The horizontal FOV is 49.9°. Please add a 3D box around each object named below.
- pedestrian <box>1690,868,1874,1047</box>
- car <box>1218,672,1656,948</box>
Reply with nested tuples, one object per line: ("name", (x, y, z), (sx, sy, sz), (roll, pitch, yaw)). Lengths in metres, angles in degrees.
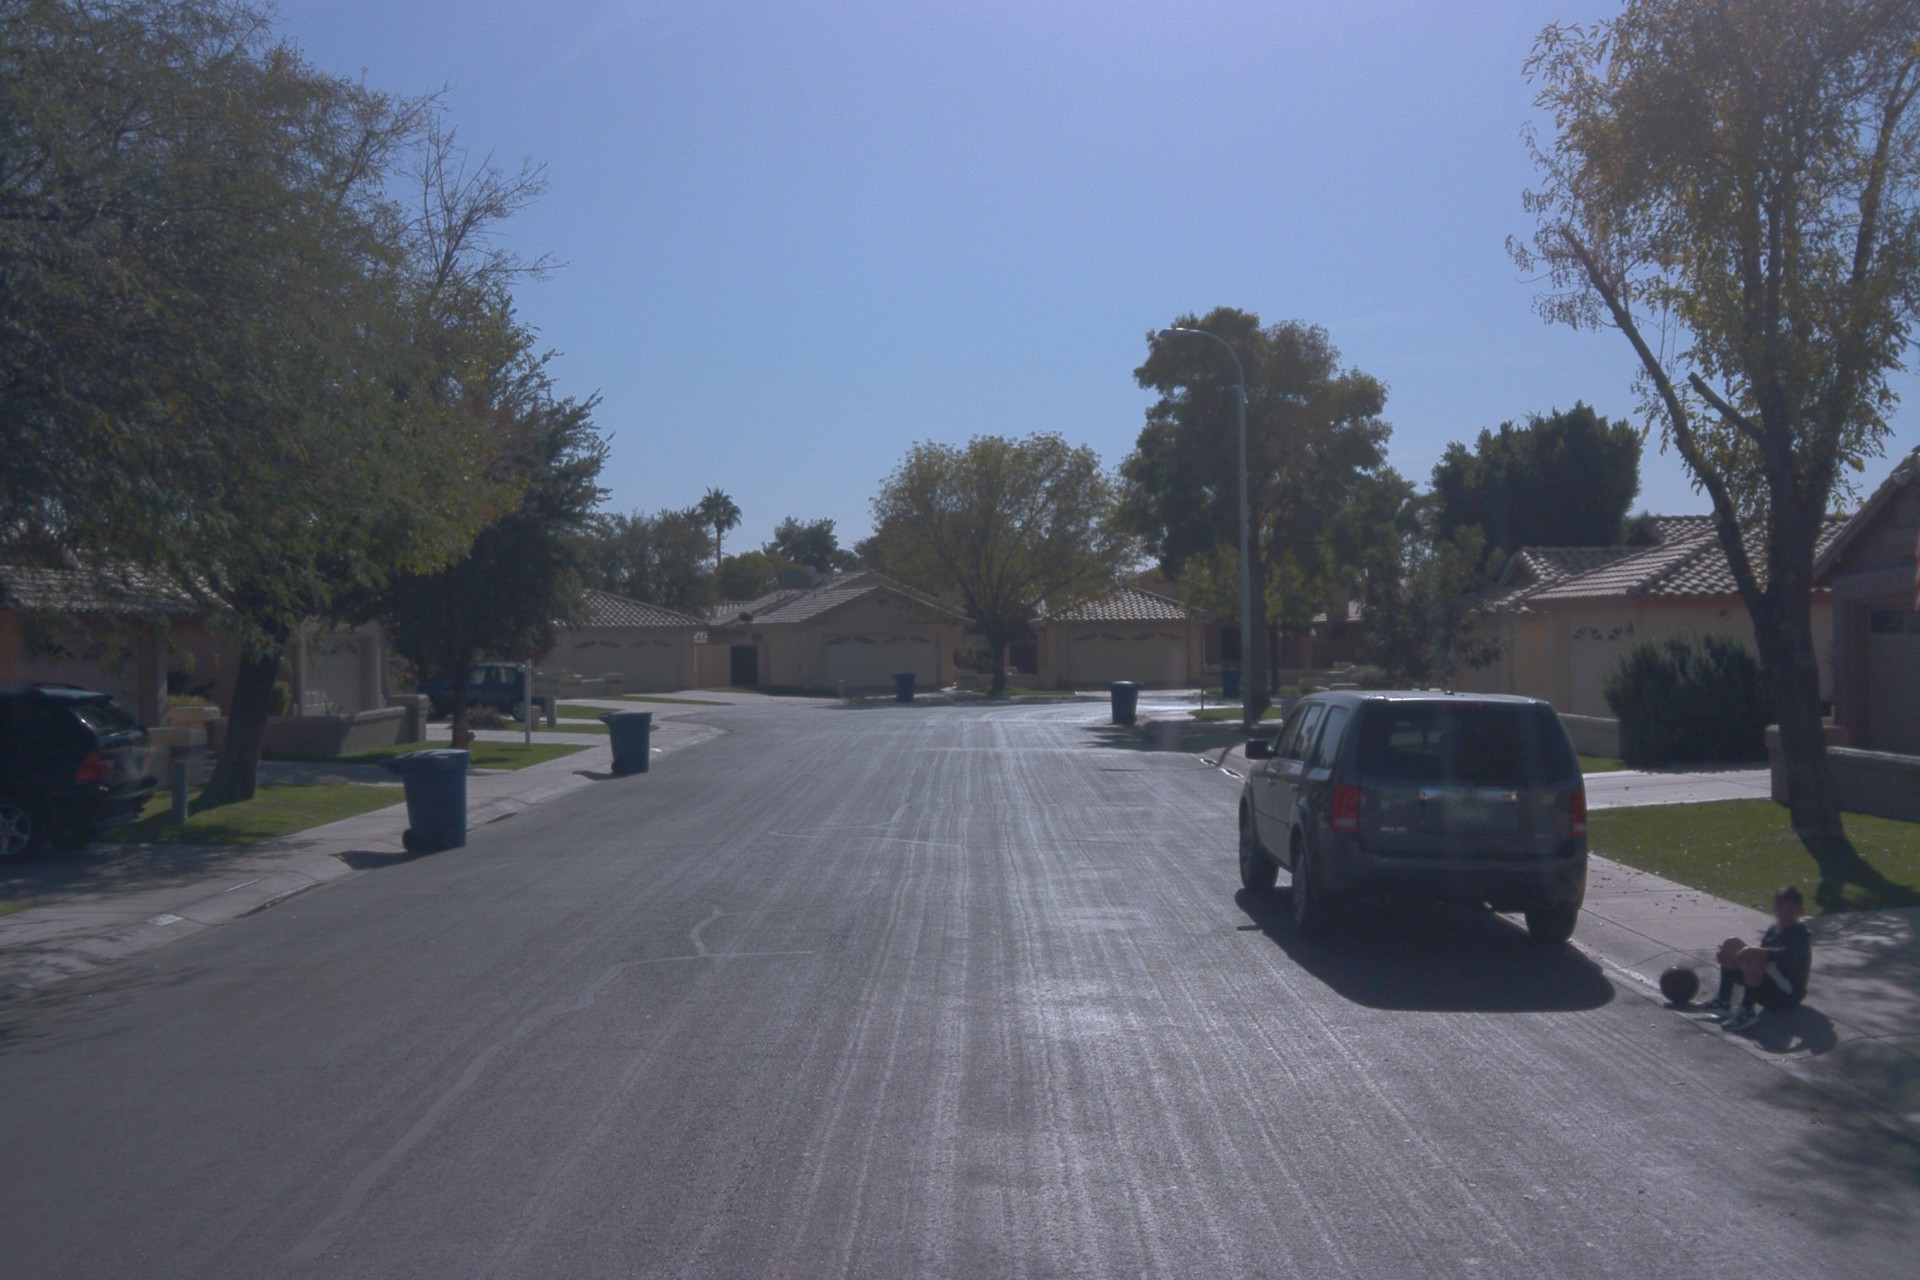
("pedestrian", (4.586, 1.762, 11.554), (0.705, 0.880, 0.828), (0, 0, 1))
("car", (3.469, 1.166, 16.116), (2.268, 1.780, 4.879), (0, 0, 0))
